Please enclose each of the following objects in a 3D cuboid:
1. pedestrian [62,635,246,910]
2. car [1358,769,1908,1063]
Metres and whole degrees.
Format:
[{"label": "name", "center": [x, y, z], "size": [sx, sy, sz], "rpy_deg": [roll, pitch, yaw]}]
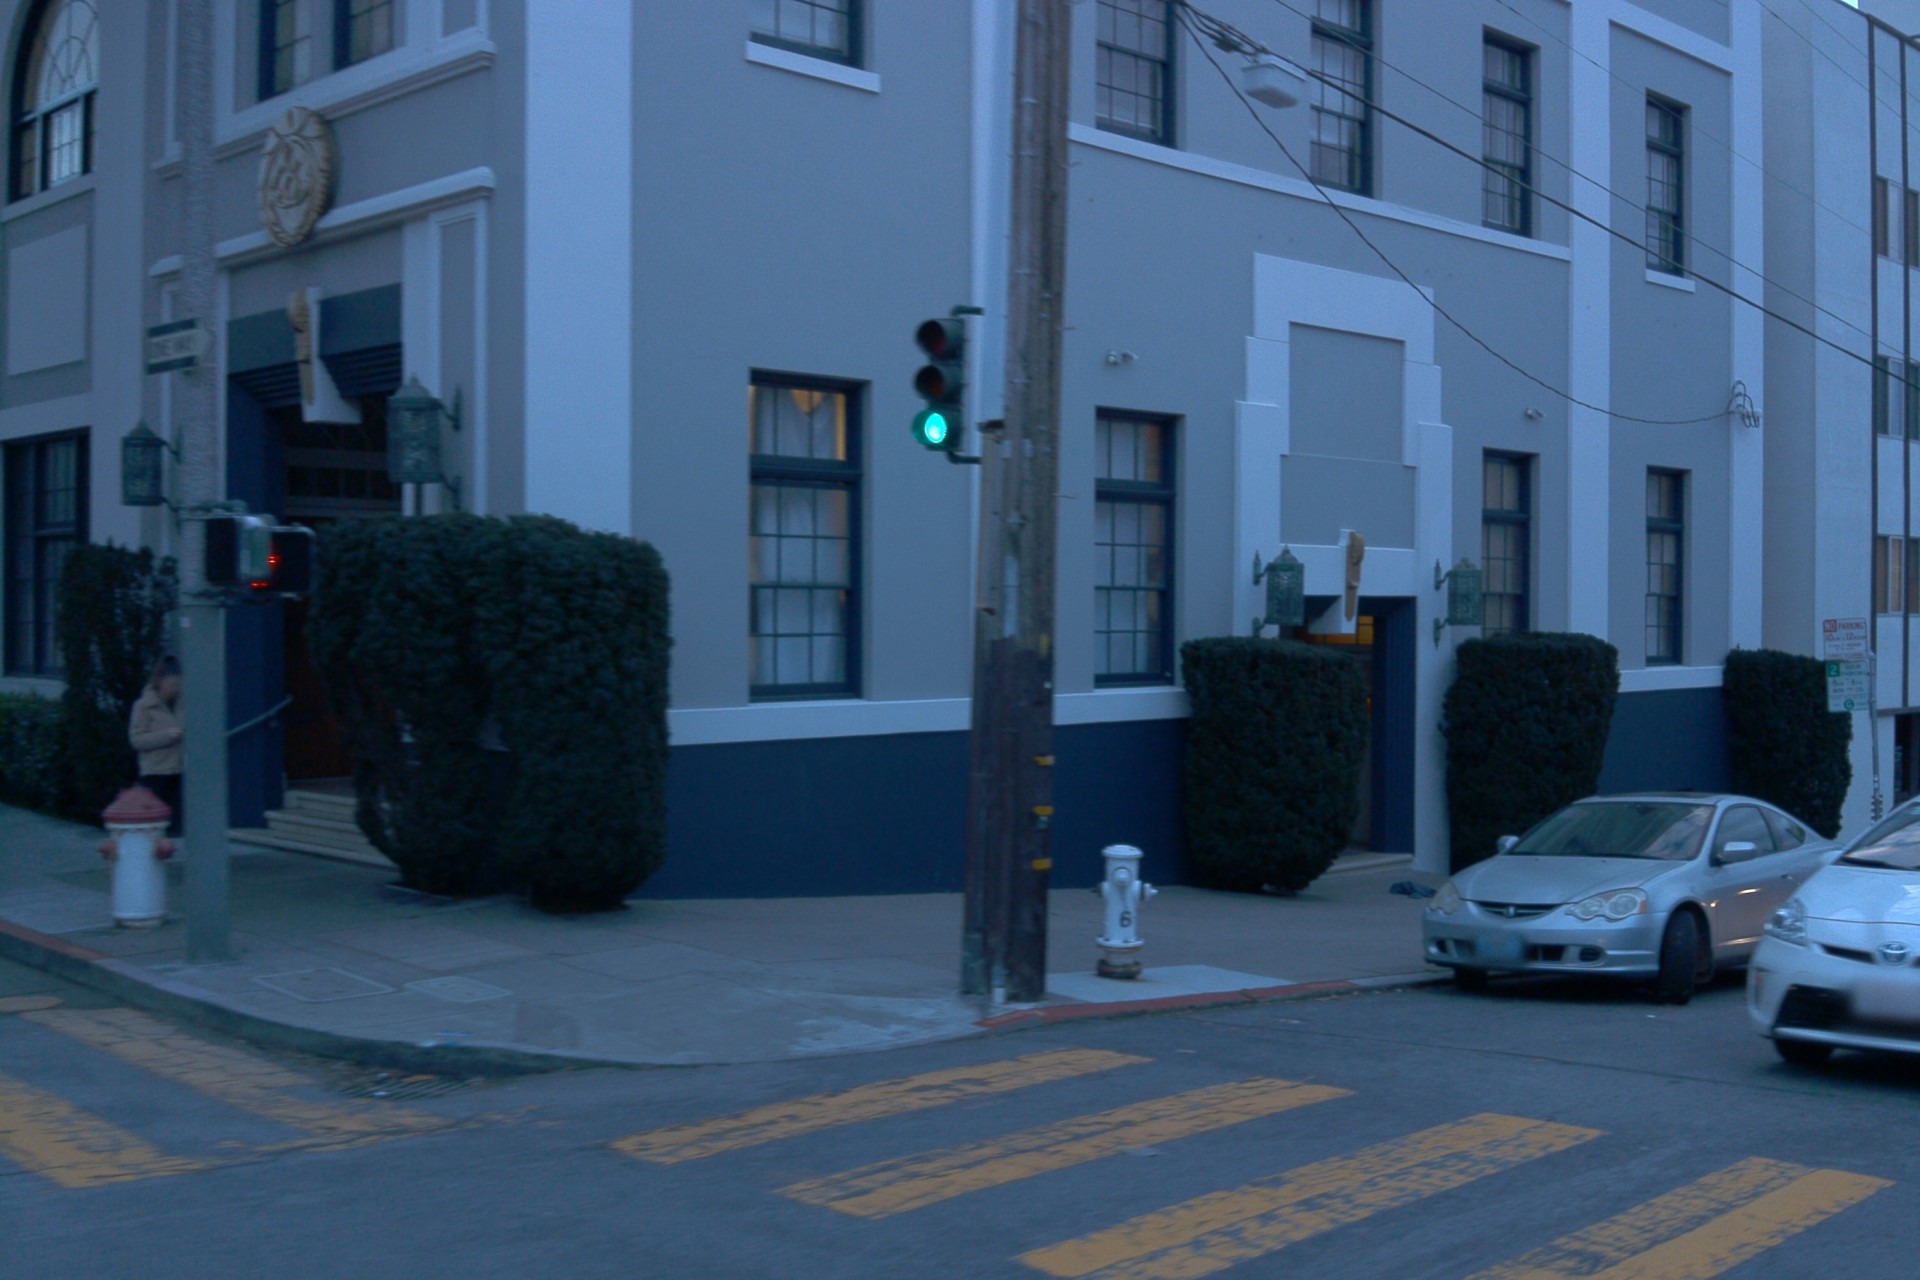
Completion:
[{"label": "pedestrian", "center": [-5.882, 0.923, 15.003], "size": [1.087, 1.903, 0.865], "rpy_deg": [1, 1, 43]}, {"label": "car", "center": [4.936, 1.813, 14.725], "size": [1.989, 1.450, 4.404], "rpy_deg": [1, 1, 44]}]
